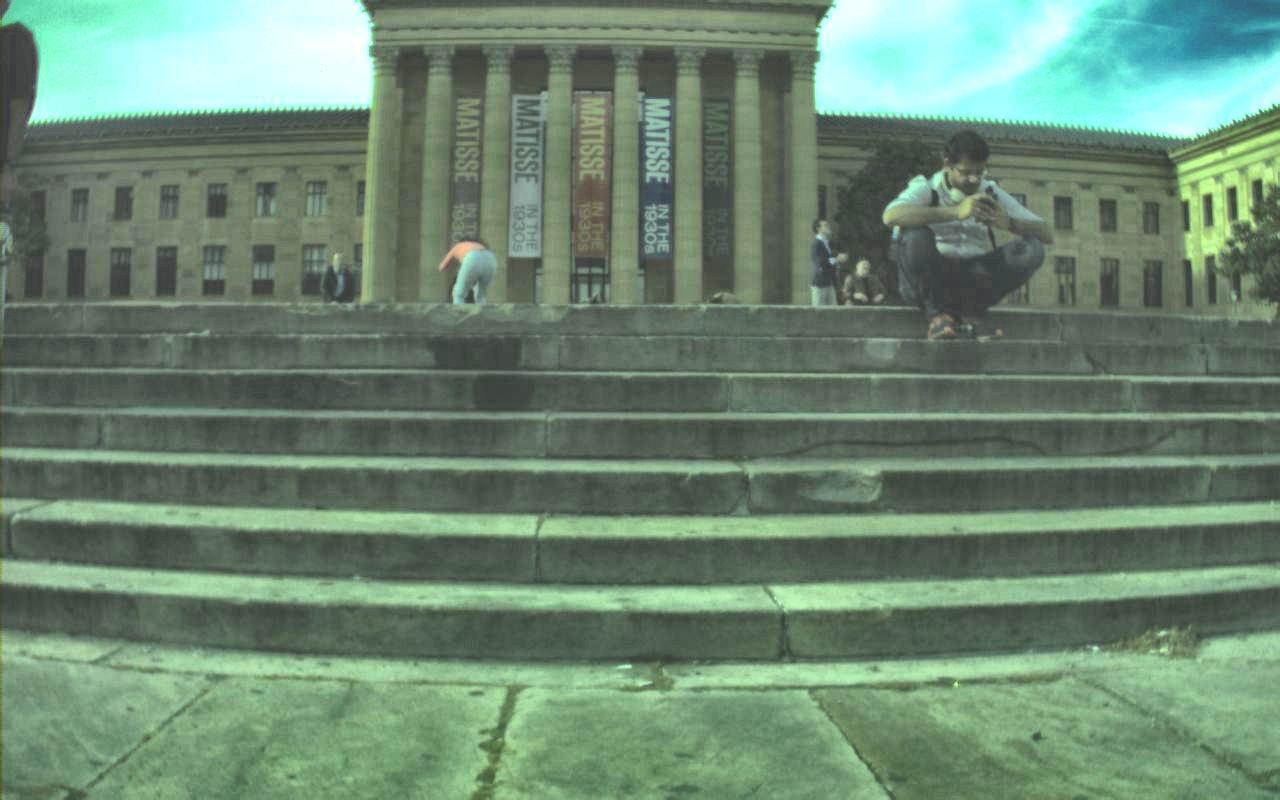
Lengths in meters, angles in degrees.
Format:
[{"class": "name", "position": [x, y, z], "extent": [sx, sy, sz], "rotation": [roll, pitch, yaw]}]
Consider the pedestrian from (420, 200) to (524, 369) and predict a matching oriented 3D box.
[{"class": "pedestrian", "position": [-1.768, -1.192, 13.243], "extent": [0.828, 1.720, 0.890], "rotation": [0, 0, 12]}]

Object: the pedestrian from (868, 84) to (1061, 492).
[{"class": "pedestrian", "position": [1.426, -0.465, 5.259], "extent": [0.787, 1.645, 0.733], "rotation": [1, 0, 19]}]

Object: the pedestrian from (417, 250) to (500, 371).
[{"class": "pedestrian", "position": [-2.583, -1.247, 17.808], "extent": [0.833, 1.677, 0.848], "rotation": [1, 0, 27]}]

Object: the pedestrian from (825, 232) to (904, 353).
[{"class": "pedestrian", "position": [3.236, -1.517, 18.002], "extent": [0.823, 1.680, 0.812], "rotation": [0, 0, -32]}]

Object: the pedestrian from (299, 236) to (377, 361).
[{"class": "pedestrian", "position": [-4.323, -1.417, 17.584], "extent": [0.792, 1.734, 0.796], "rotation": [1, 0, 25]}]

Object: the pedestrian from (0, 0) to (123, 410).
[{"class": "pedestrian", "position": [-2.662, -0.847, 4.646], "extent": [0.745, 1.785, 0.726], "rotation": [0, 0, -37]}]

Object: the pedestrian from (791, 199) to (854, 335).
[{"class": "pedestrian", "position": [2.486, -1.791, 17.093], "extent": [0.762, 1.799, 0.745], "rotation": [0, 0, -1]}]
